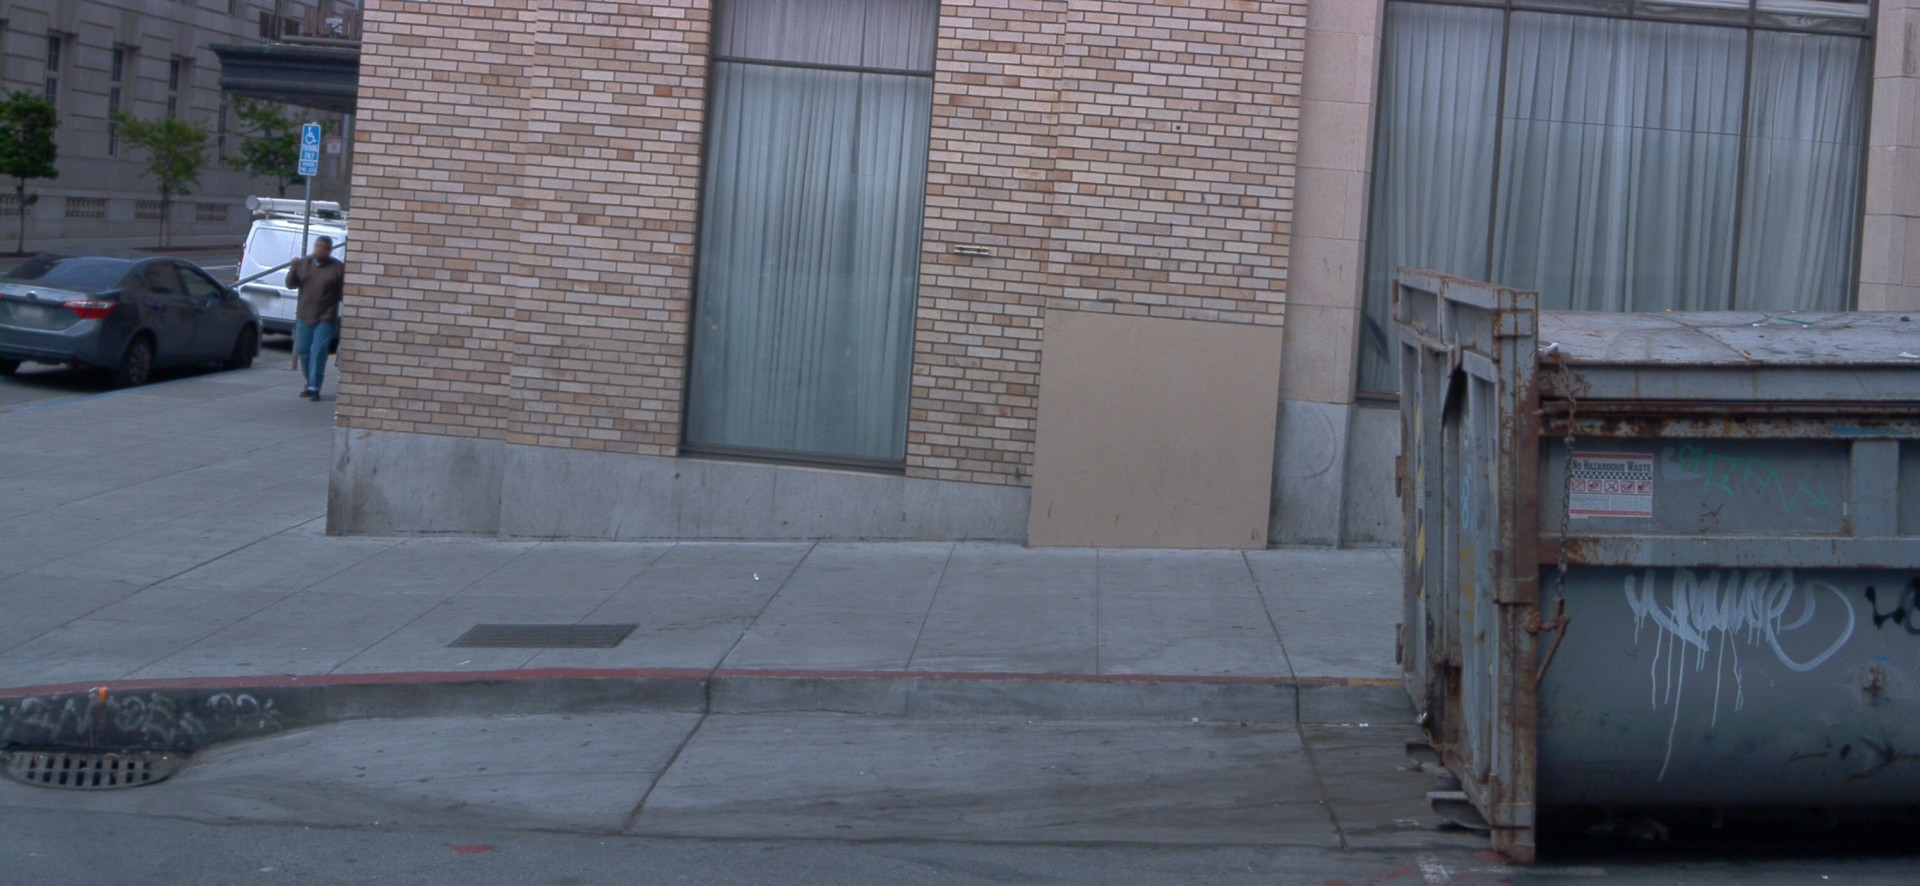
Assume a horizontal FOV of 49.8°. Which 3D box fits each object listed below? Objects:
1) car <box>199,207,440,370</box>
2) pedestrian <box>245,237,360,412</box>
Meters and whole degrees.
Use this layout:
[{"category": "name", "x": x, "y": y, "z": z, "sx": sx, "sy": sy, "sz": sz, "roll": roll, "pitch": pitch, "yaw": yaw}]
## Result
[{"category": "car", "x": -9.247, "y": -2.341, "z": 30.249, "sx": 1.980, "sy": 2.190, "sz": 4.367, "roll": 0, "pitch": 5, "yaw": 3}, {"category": "pedestrian", "x": -6.958, "y": -1.274, "z": 21.924, "sx": 0.981, "sy": 1.786, "sz": 0.853, "roll": -1, "pitch": 2, "yaw": -6}]
